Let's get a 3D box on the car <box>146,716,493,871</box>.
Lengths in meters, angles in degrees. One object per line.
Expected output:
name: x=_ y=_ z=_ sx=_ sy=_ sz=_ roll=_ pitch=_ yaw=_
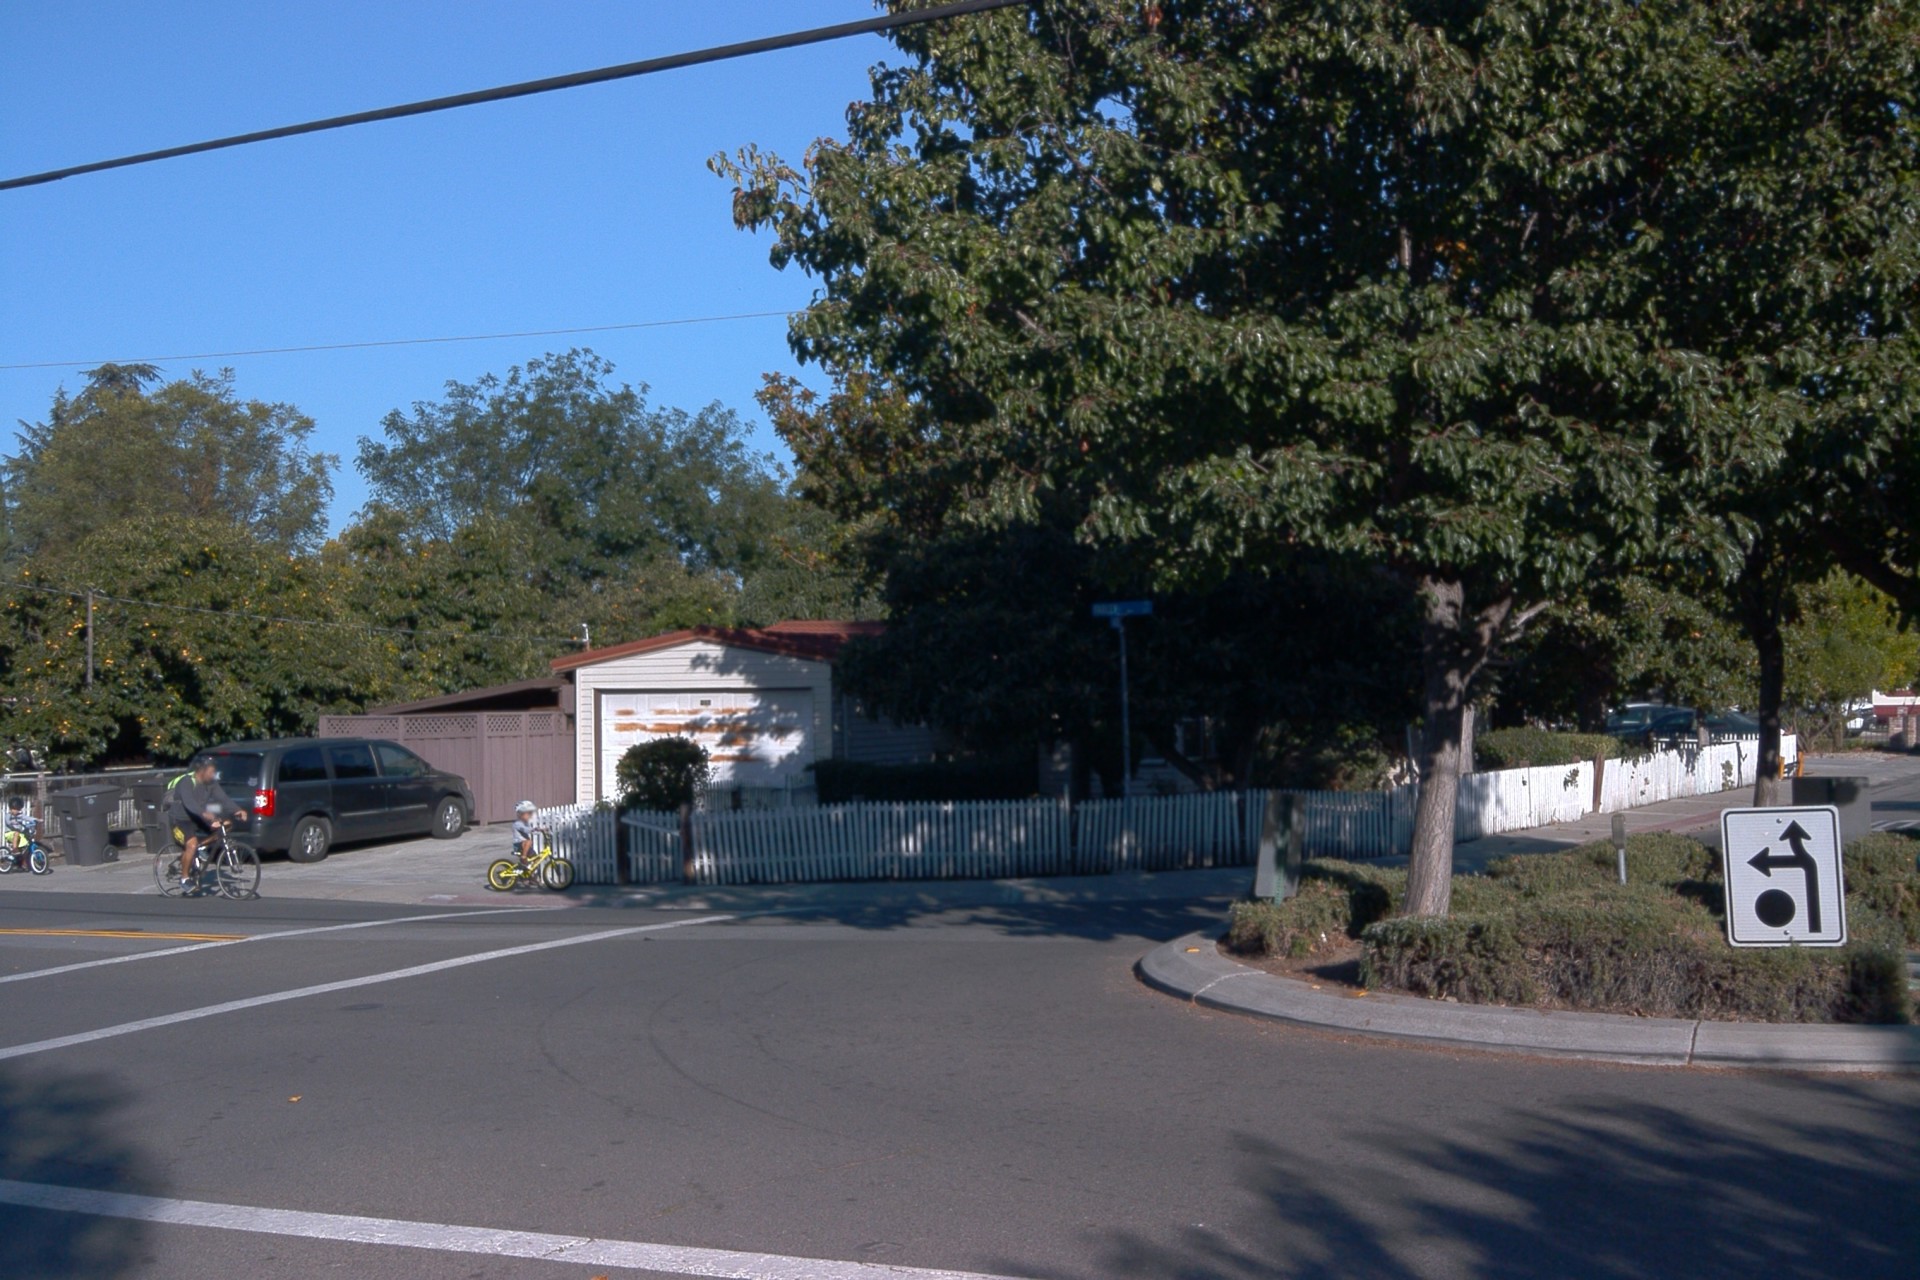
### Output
car: x=-9.471 y=2.207 z=31.205 sx=2.140 sy=1.930 sz=4.988 roll=1 pitch=0 yaw=25

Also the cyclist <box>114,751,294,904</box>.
cyclist: x=-9.075 y=2.223 z=24.946 sx=1.948 sy=1.668 sz=0.825 roll=1 pitch=0 yaw=22

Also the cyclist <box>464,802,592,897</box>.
cyclist: x=-5.253 y=2.536 z=25.309 sx=1.330 sy=1.030 sz=0.692 roll=1 pitch=0 yaw=19
